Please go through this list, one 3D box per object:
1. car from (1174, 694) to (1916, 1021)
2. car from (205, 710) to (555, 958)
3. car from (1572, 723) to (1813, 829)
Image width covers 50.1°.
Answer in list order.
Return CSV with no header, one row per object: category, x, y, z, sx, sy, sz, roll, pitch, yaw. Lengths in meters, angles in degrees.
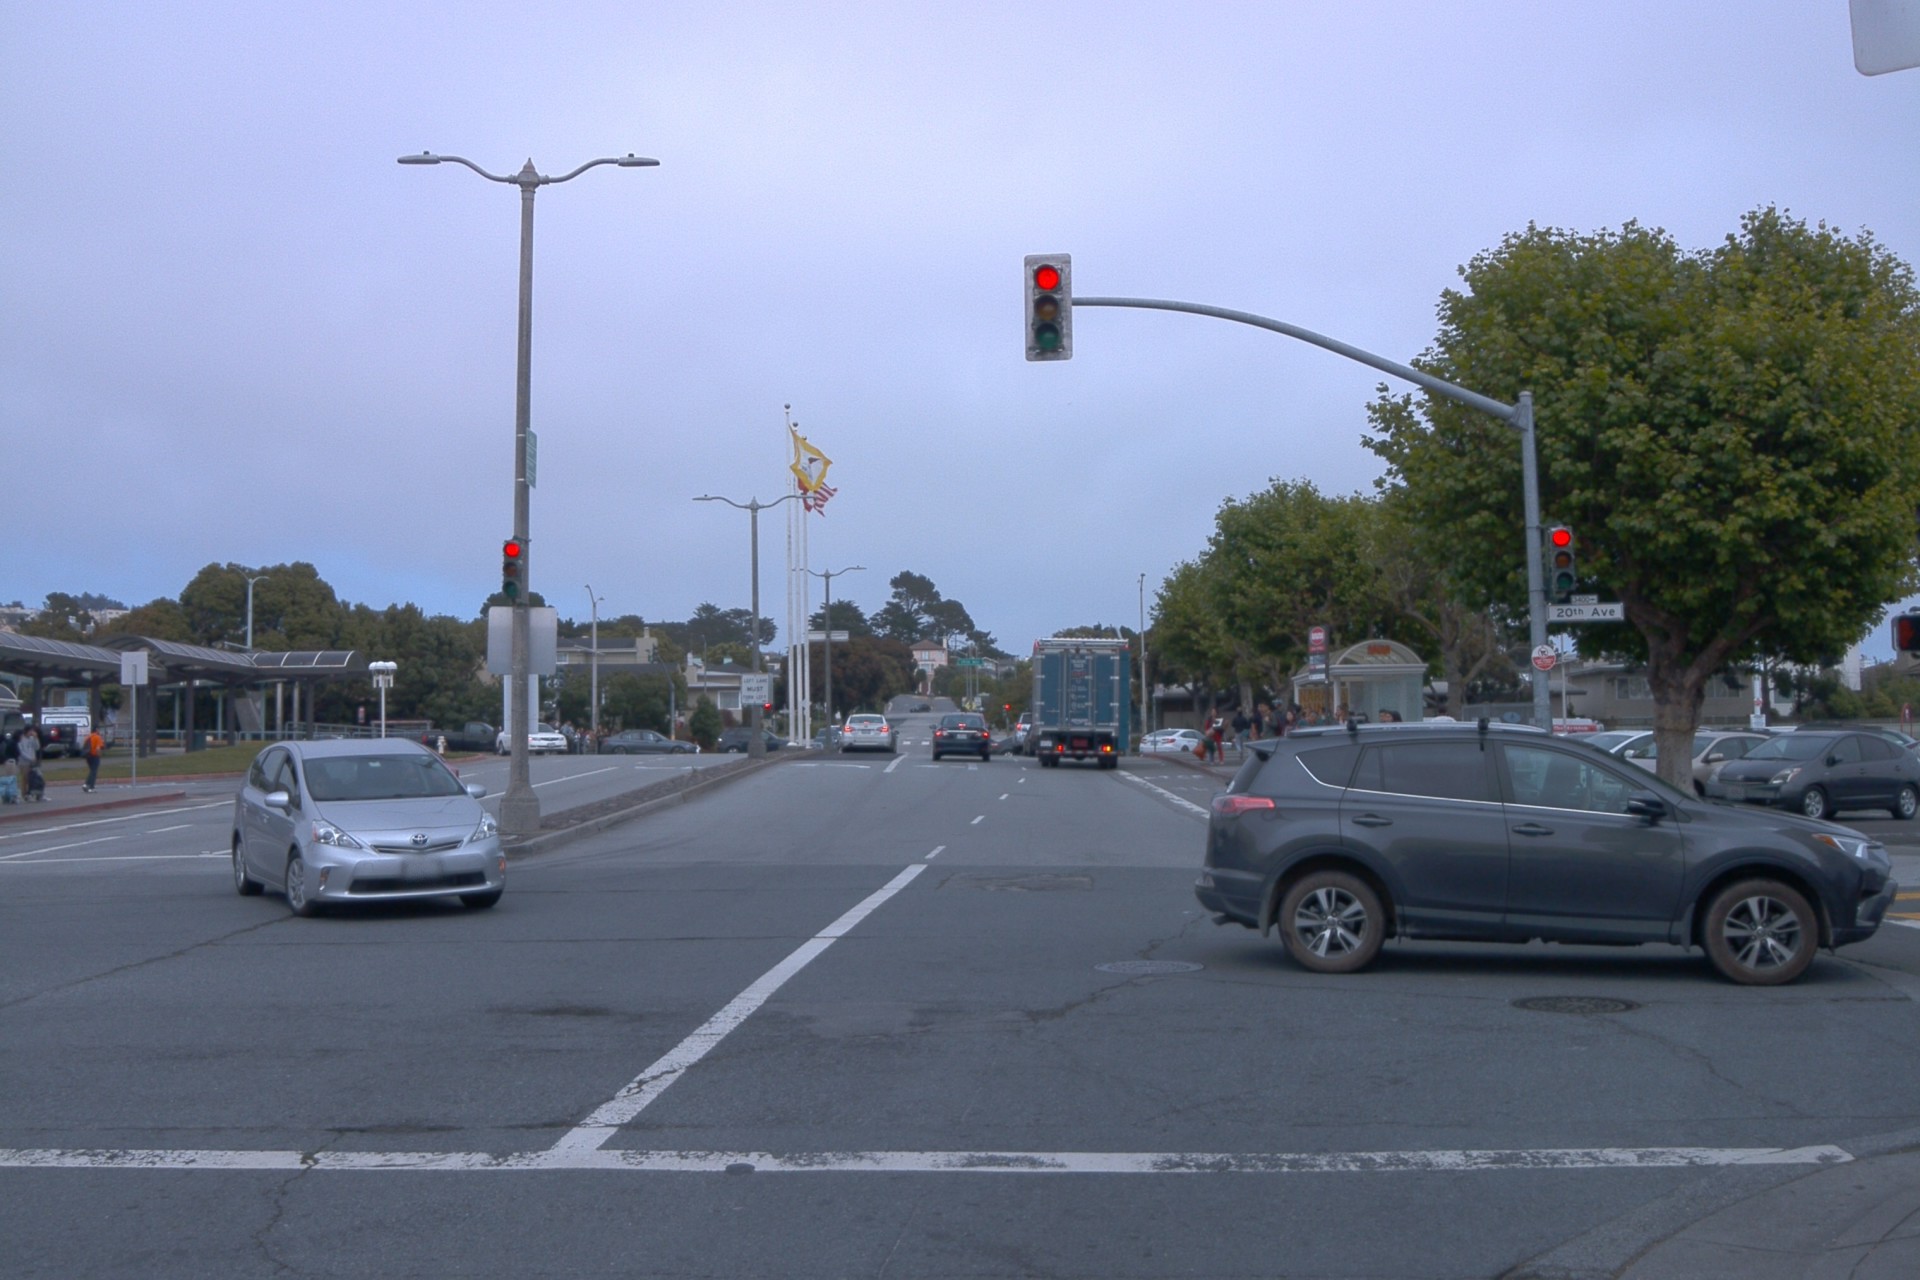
car,3.938,1.379,14.260,4.597,1.889,2.099,0,1,16
car,-5.679,1.705,19.677,2.100,1.825,4.702,-1,1,-30
car,12.848,2.330,36.018,3.959,1.540,1.985,-1,1,-33
